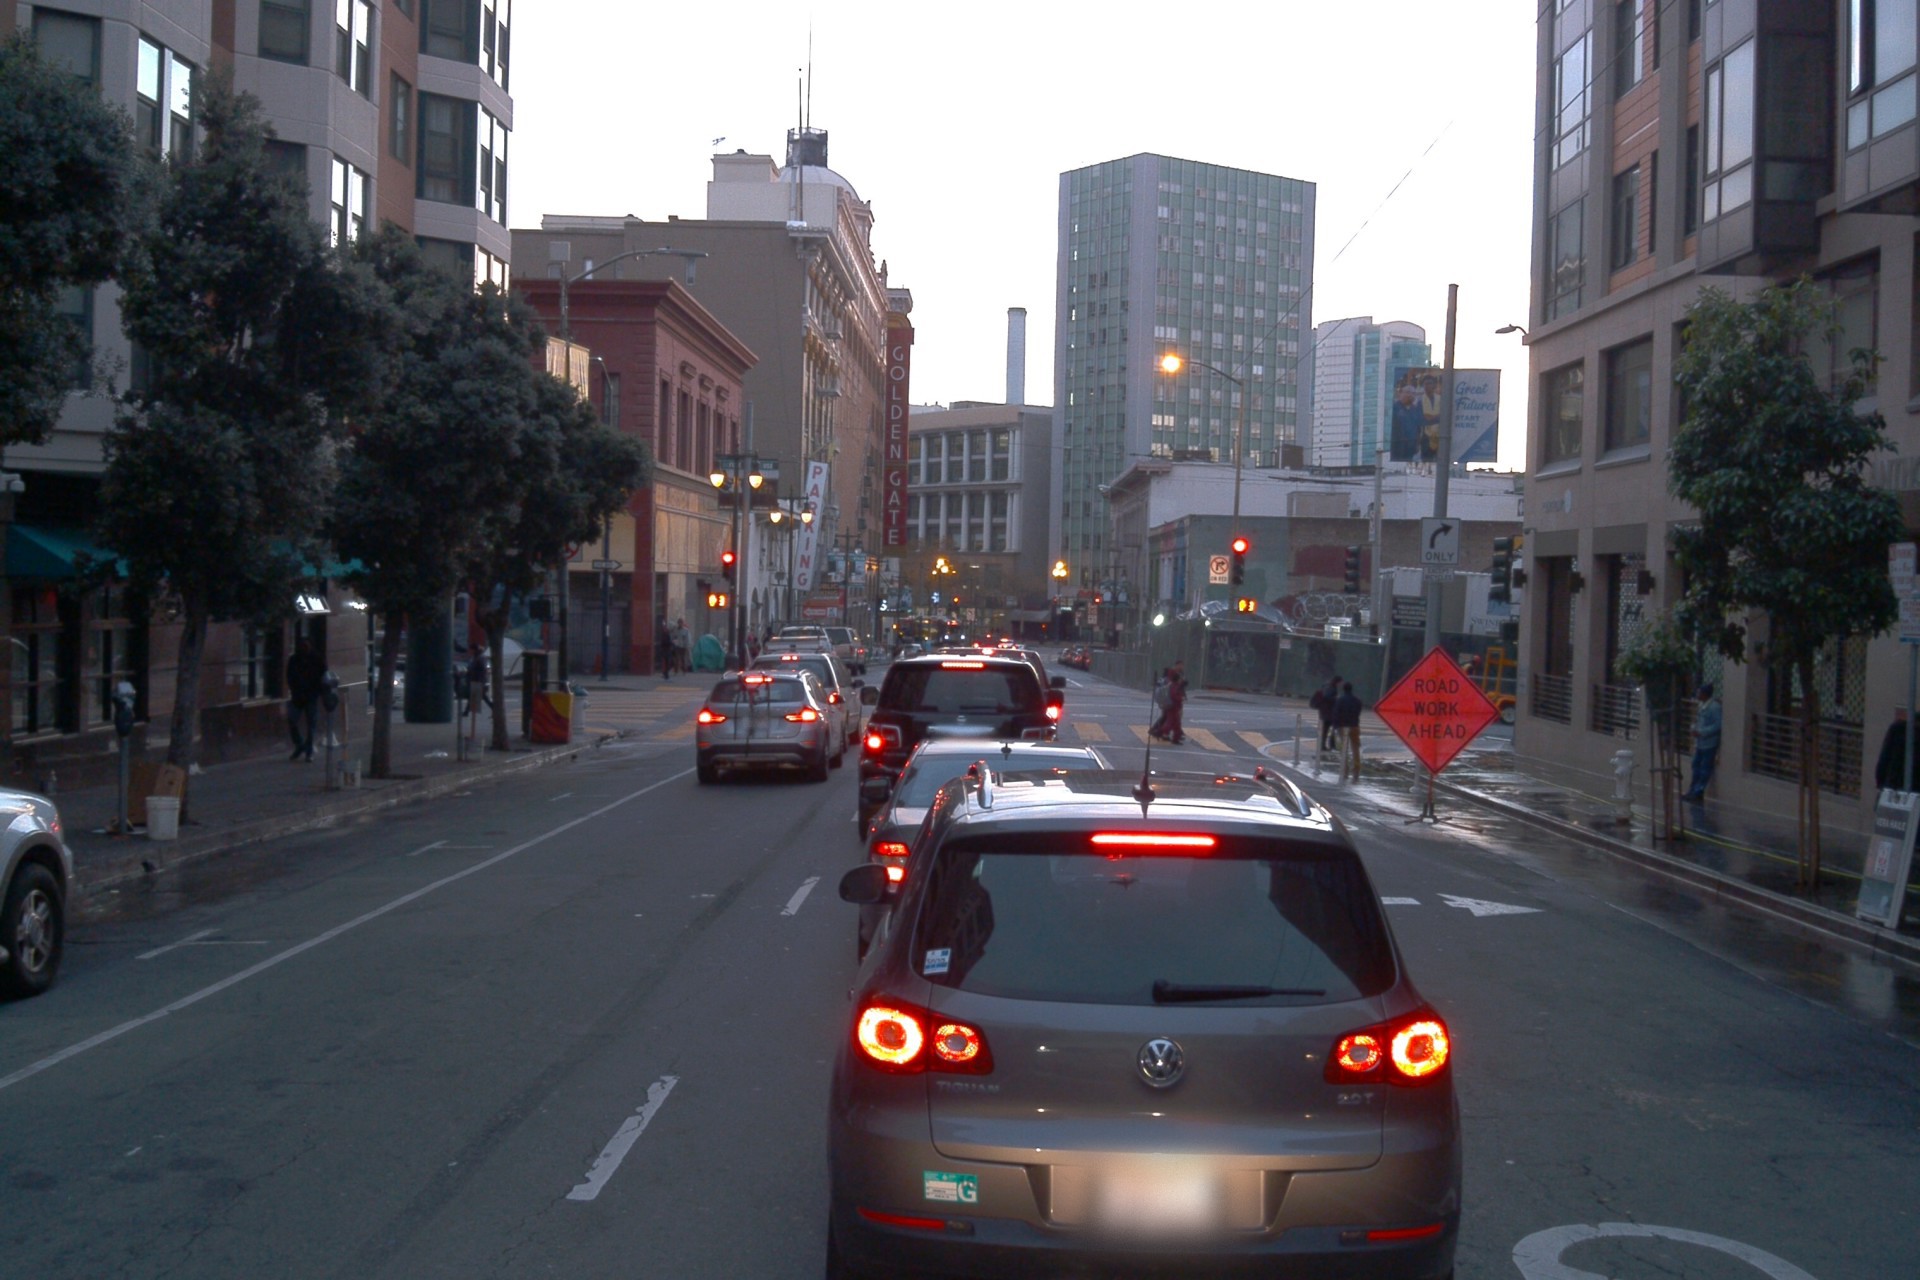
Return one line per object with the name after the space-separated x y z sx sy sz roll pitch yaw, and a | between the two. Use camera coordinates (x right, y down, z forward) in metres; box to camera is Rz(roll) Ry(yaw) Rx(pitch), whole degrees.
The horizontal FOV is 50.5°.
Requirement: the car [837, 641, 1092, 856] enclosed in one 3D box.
0.038 1.025 21.906 2.368 1.940 5.339 1 1 0 | car

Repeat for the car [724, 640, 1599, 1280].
0.548 1.065 7.025 2.109 2.050 3.981 1 1 2 | car

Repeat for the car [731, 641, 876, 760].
-2.655 0.991 35.549 1.896 1.880 4.462 1 1 4 | car

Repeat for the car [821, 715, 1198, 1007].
0.293 1.321 13.594 2.089 1.400 4.279 1 1 1 | car

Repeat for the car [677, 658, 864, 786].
-2.615 1.107 29.059 2.110 1.572 4.118 1 1 2 | car

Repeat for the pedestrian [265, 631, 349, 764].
-9.408 0.812 29.354 0.828 1.860 1.059 1 1 1 | pedestrian

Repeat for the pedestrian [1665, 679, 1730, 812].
10.764 1.525 29.717 0.659 1.890 0.755 1 1 4 | pedestrian

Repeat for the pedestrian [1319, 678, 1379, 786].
6.689 1.568 35.071 0.777 1.790 0.924 1 1 -2 | pedestrian

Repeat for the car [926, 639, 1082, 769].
0.623 0.850 29.393 2.036 1.650 4.678 1 1 1 | car
